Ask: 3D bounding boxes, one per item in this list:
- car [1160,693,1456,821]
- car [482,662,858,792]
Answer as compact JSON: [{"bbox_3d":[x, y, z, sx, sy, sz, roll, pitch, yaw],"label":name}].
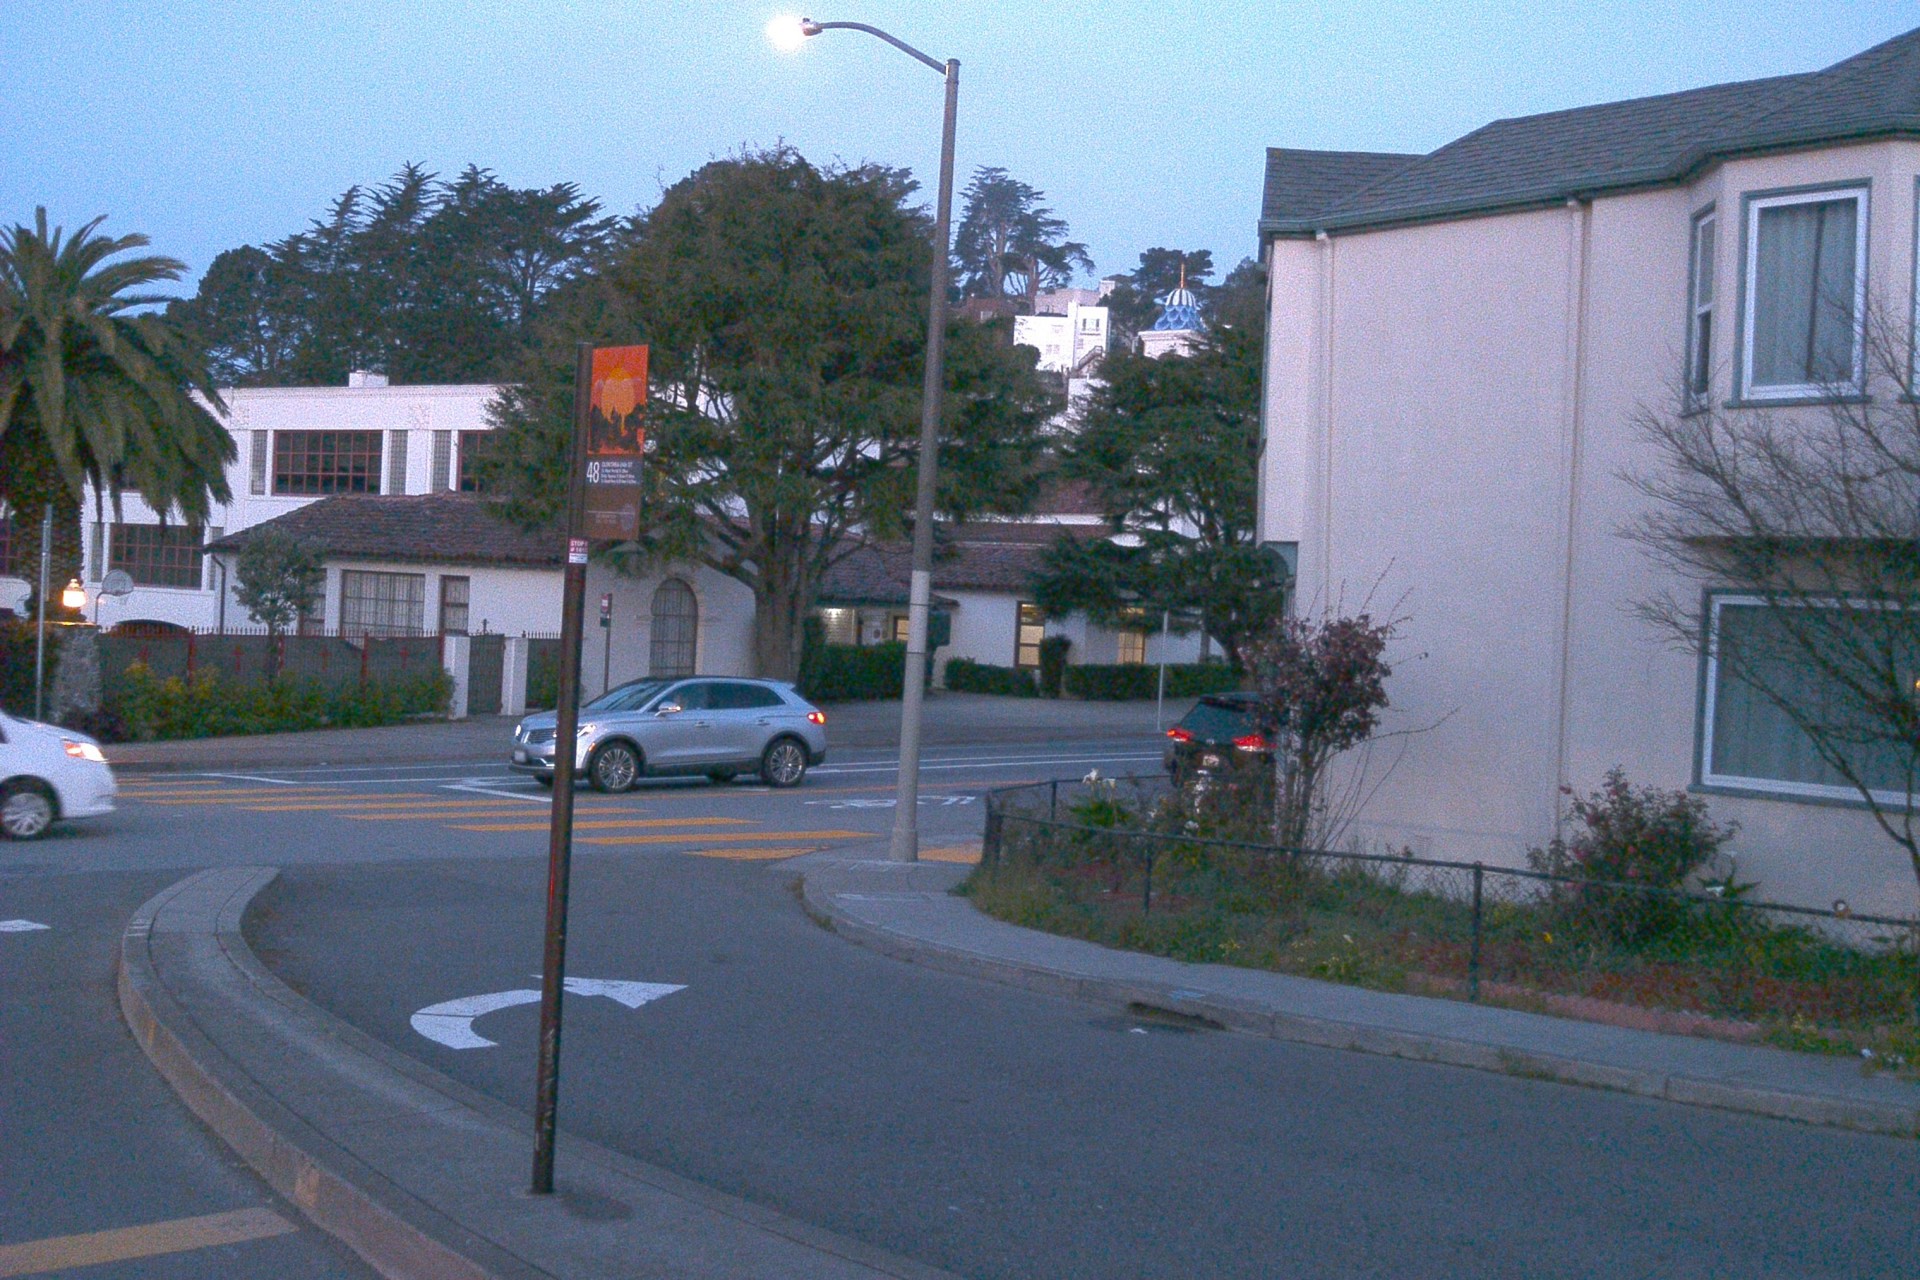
[{"bbox_3d":[5.027,1.631,30.201,3.819,1.660,2.058,1,0,-34],"label":"car"},{"bbox_3d":[-4.179,1.206,30.665,5.027,1.730,2.150,1,0,-39],"label":"car"}]
